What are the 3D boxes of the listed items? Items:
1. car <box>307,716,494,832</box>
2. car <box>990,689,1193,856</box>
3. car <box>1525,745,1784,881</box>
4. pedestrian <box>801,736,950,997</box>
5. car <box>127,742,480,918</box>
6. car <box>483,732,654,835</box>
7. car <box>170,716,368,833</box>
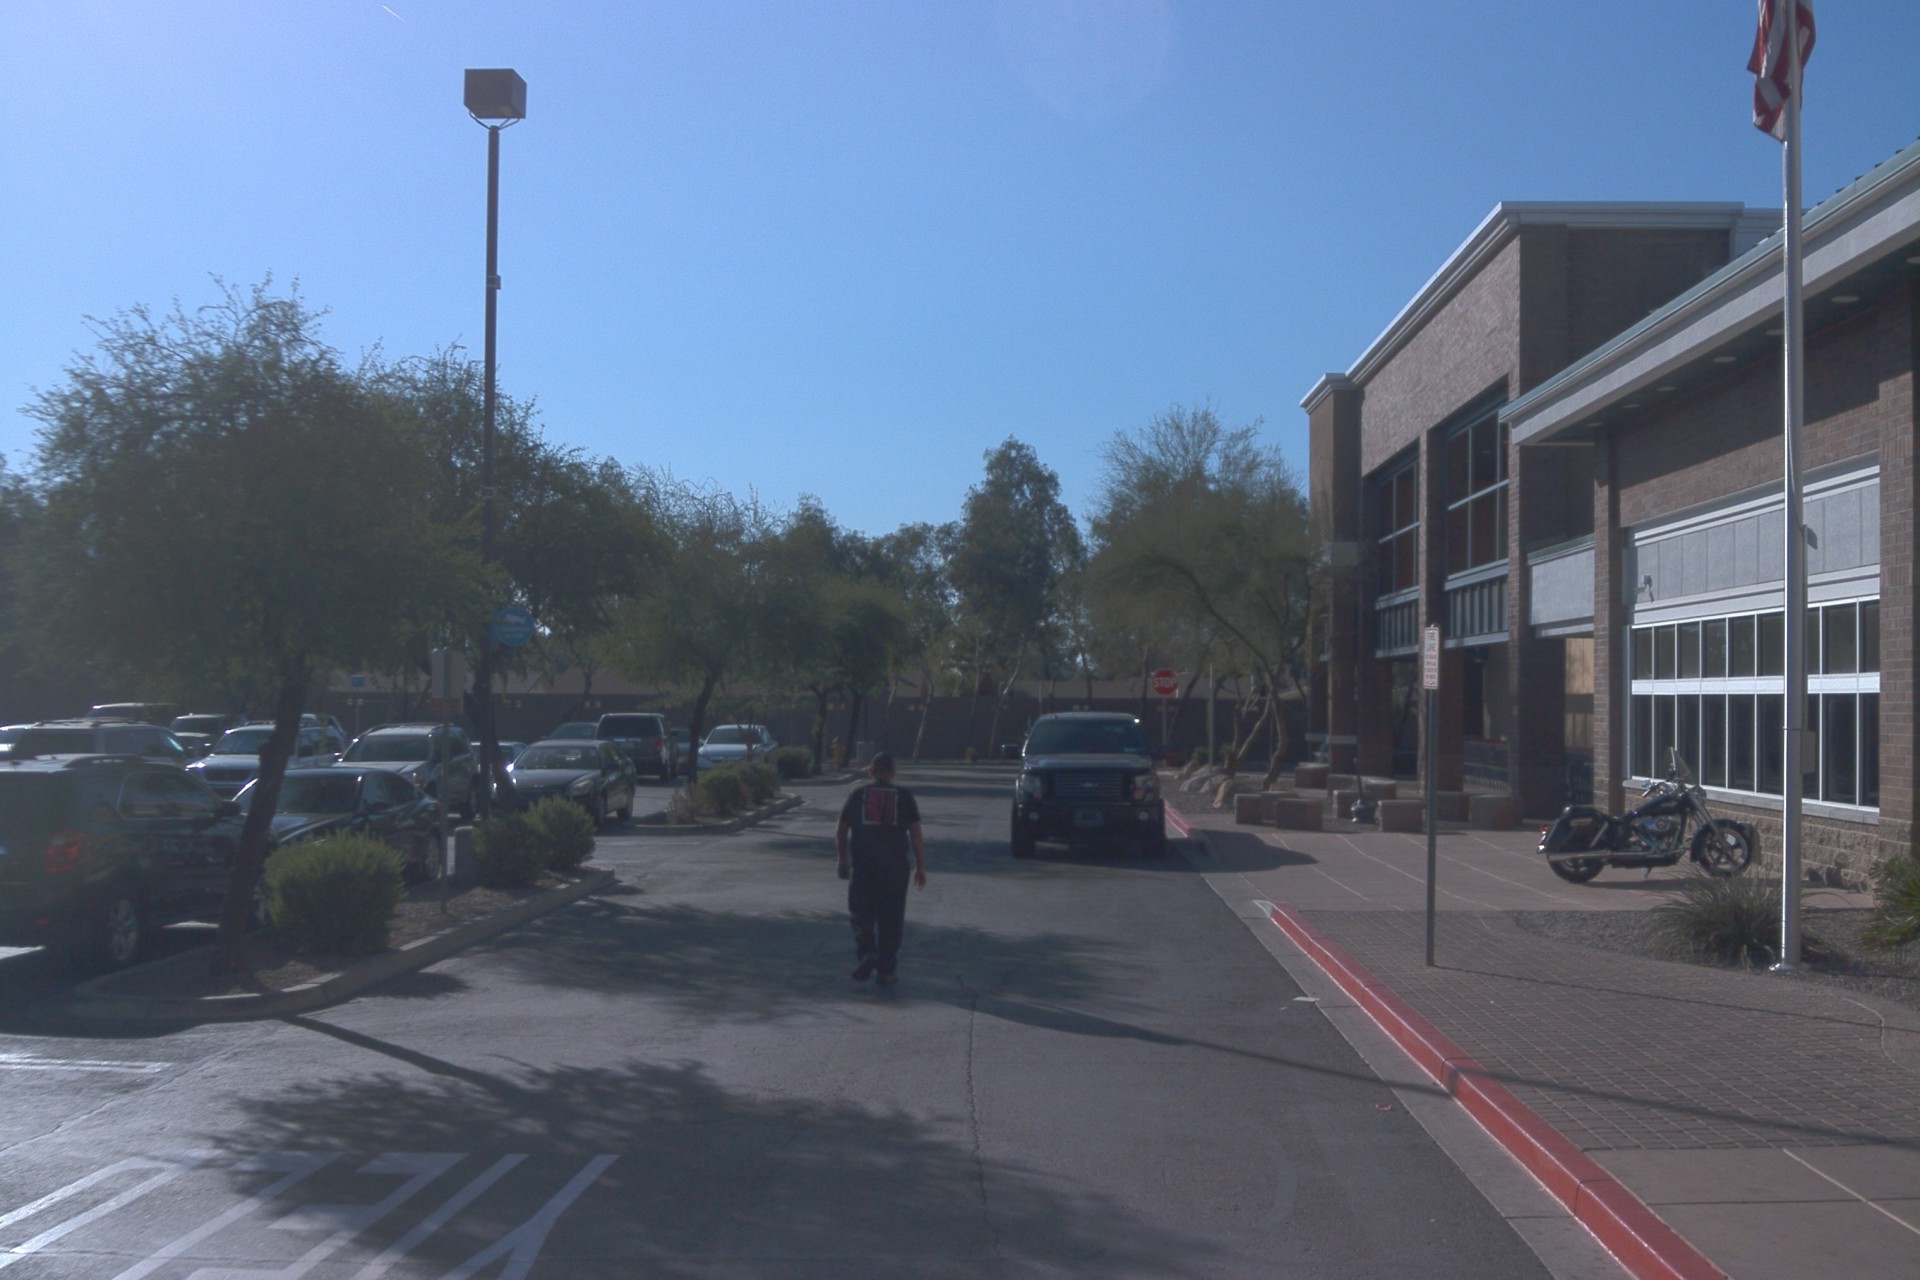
[{"bbox_3d":[-9.628,2.270,36.076,1.886,1.820,4.571,-1,-1,2],"label":"car"},{"bbox_3d":[1.850,1.818,30.300,2.655,2.190,5.664,-1,-1,2],"label":"car"},{"bbox_3d":[7.644,1.898,22.958,2.509,1.430,1.043,-1,-1,5],"label":"car"},{"bbox_3d":[-0.643,1.680,15.768,1.075,1.870,1.183,0,-1,-2],"label":"pedestrian"},{"bbox_3d":[-7.225,2.046,23.481,2.211,1.640,5.024,-1,-1,3],"label":"car"},{"bbox_3d":[-6.698,2.430,36.031,1.931,1.560,4.779,-1,-1,2],"label":"car"},{"bbox_3d":[-12.041,2.296,36.489,1.922,1.860,4.555,-1,-1,1],"label":"car"}]
